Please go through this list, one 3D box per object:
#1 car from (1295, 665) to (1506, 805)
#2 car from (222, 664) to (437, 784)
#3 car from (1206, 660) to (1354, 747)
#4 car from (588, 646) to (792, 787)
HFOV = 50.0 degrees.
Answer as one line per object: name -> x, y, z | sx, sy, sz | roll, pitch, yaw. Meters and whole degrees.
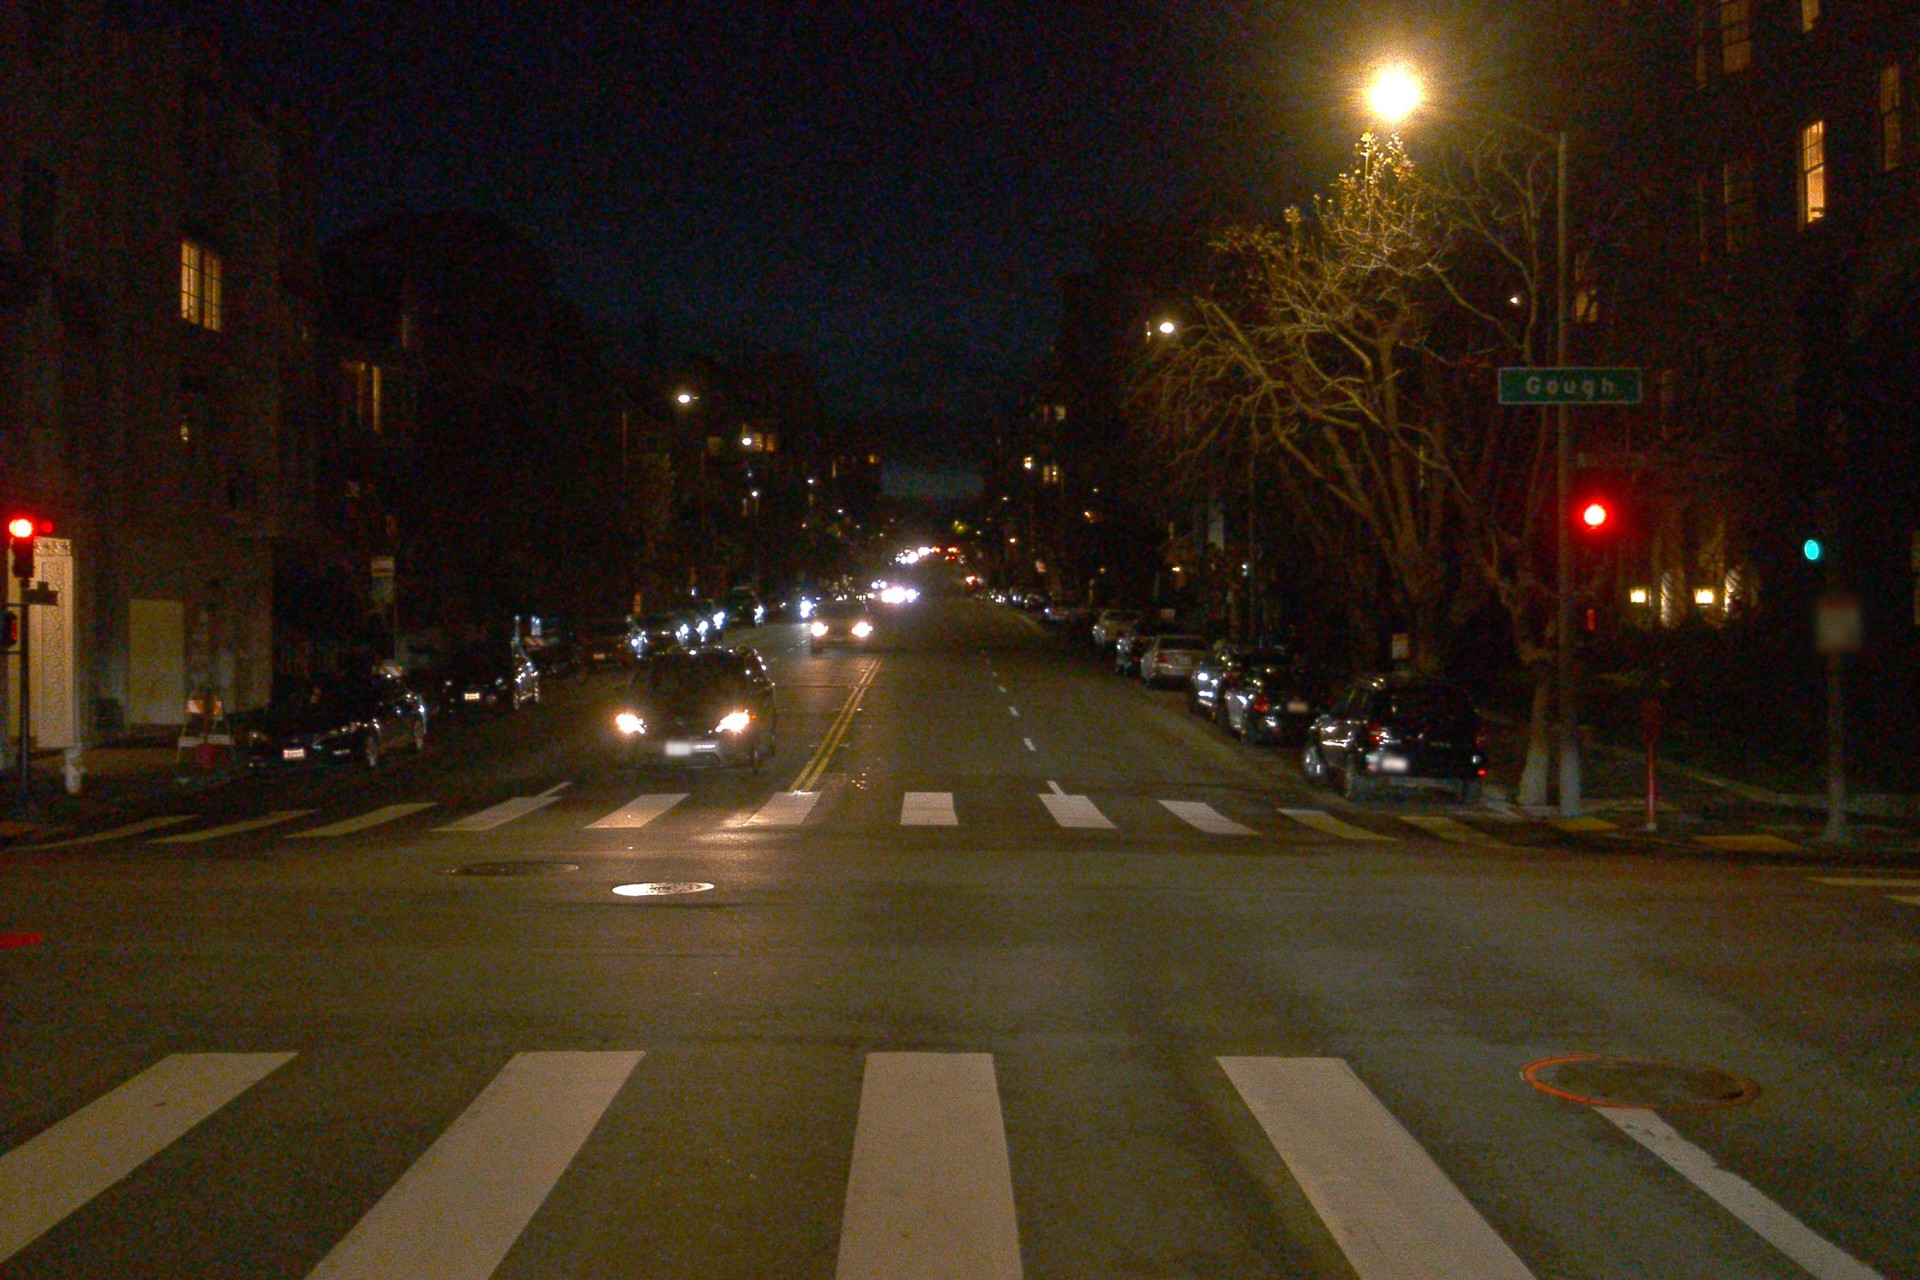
car -> 6.081, 1.259, 28.894 | 1.802, 1.714, 4.078 | 1, 0, -4
car -> -10.052, 1.293, 33.211 | 2.045, 1.673, 4.519 | 1, 0, 0
car -> 5.817, 1.128, 37.883 | 1.802, 1.404, 4.078 | 1, 0, -4
car -> -3.804, 1.030, 29.922 | 2.293, 1.803, 4.677 | 1, 0, 0
